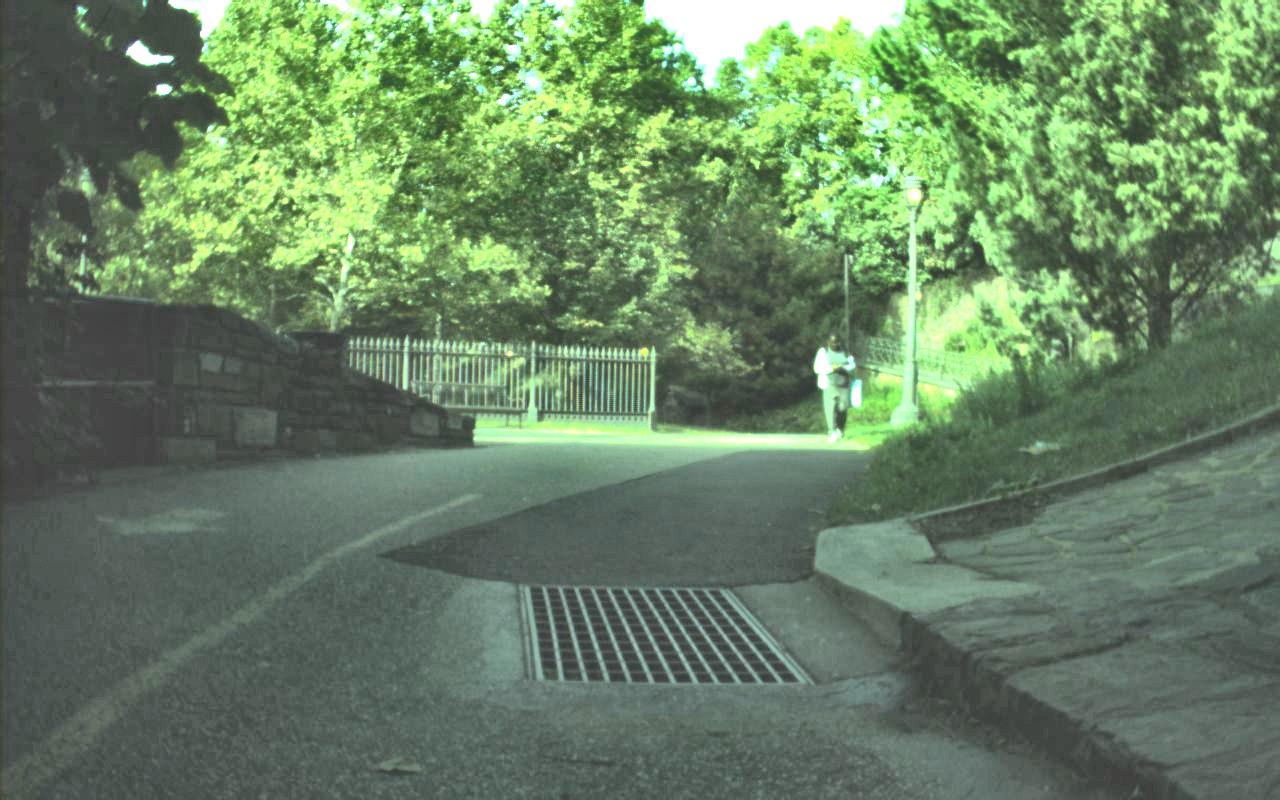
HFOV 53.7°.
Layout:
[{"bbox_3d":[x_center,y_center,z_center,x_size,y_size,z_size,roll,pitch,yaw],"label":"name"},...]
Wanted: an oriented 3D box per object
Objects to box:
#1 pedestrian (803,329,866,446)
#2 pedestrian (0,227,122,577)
[{"bbox_3d":[2.963,-0.193,19.082,0.816,1.728,0.853,1,0,18],"label":"pedestrian"},{"bbox_3d":[-3.108,0.021,5.808,0.729,1.689,0.768,0,0,-39],"label":"pedestrian"}]
